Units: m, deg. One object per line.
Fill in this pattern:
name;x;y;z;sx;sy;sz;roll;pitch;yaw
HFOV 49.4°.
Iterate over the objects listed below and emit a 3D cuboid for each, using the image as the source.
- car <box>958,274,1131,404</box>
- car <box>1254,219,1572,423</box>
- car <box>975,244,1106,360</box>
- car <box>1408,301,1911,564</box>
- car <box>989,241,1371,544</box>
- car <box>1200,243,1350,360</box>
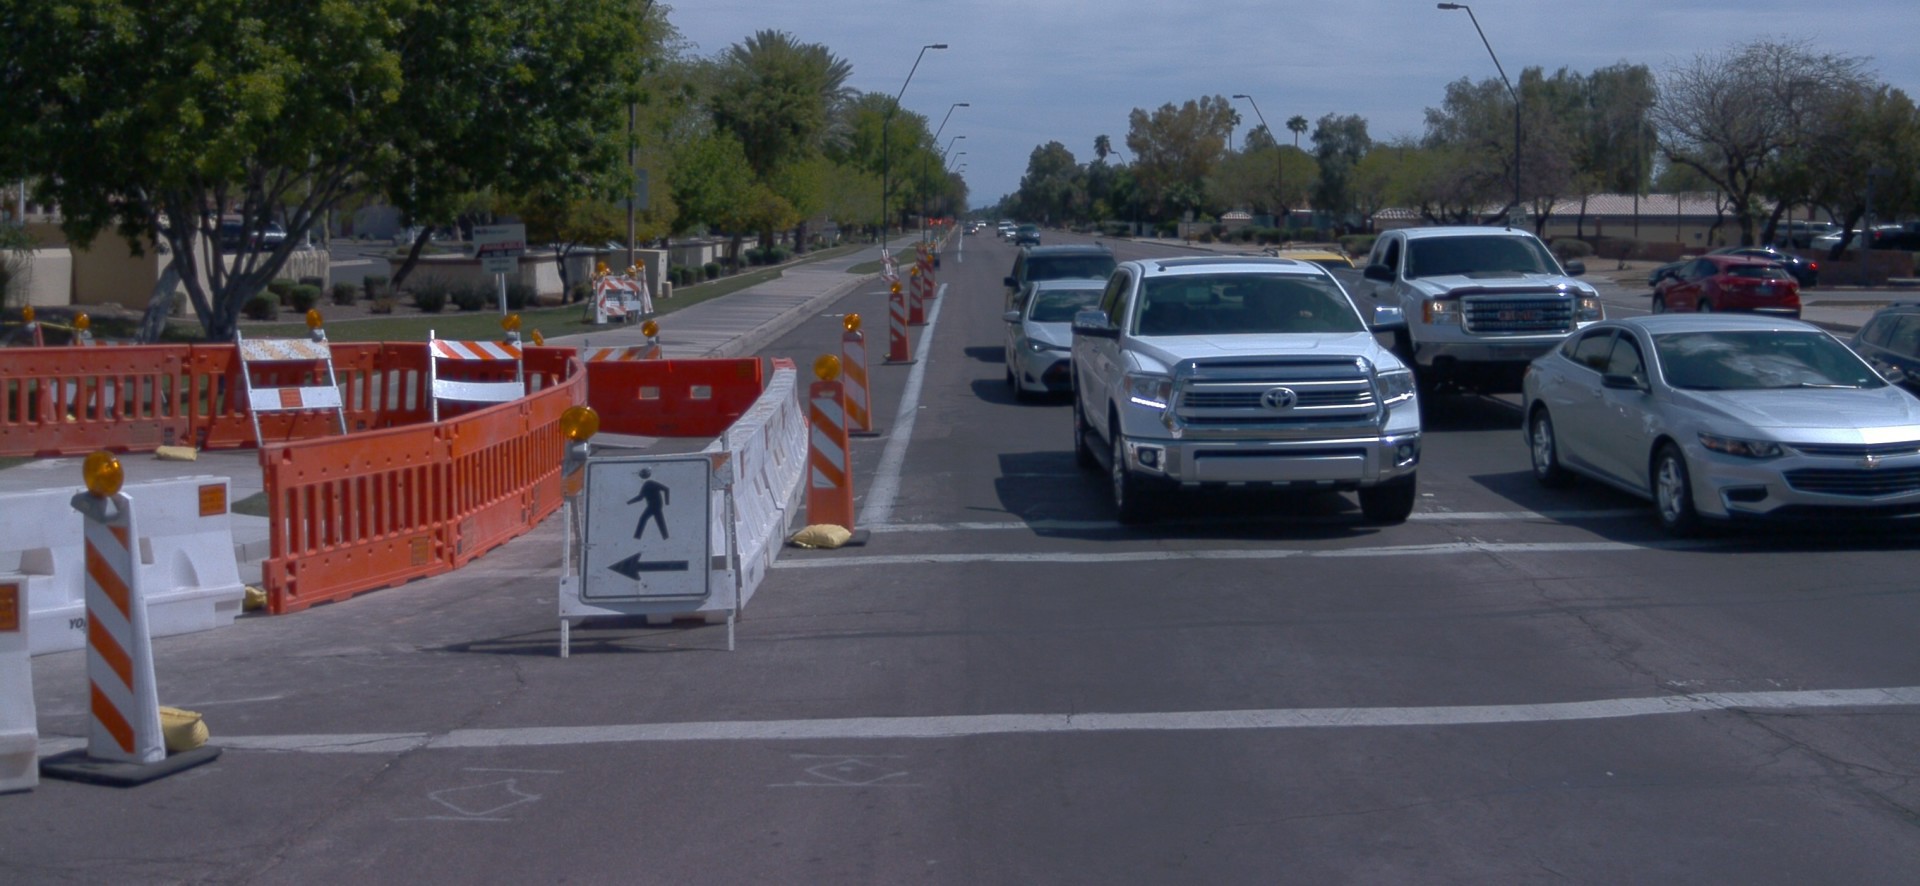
car;1.008;-1.427;27.175;2.018;1.464;4.426;0;5;-1
car;5.082;-1.545;24.444;2.434;2.092;5.862;0;5;0
car;1.266;-2.420;34.846;2.019;1.794;4.682;0;5;0
car;4.984;-0.229;15.727;2.131;1.524;4.790;0;5;-1
car;1.549;-0.632;17.229;2.443;2.042;5.908;0;5;-1
car;4.923;-2.296;33.091;1.805;1.714;4.042;0;5;1
